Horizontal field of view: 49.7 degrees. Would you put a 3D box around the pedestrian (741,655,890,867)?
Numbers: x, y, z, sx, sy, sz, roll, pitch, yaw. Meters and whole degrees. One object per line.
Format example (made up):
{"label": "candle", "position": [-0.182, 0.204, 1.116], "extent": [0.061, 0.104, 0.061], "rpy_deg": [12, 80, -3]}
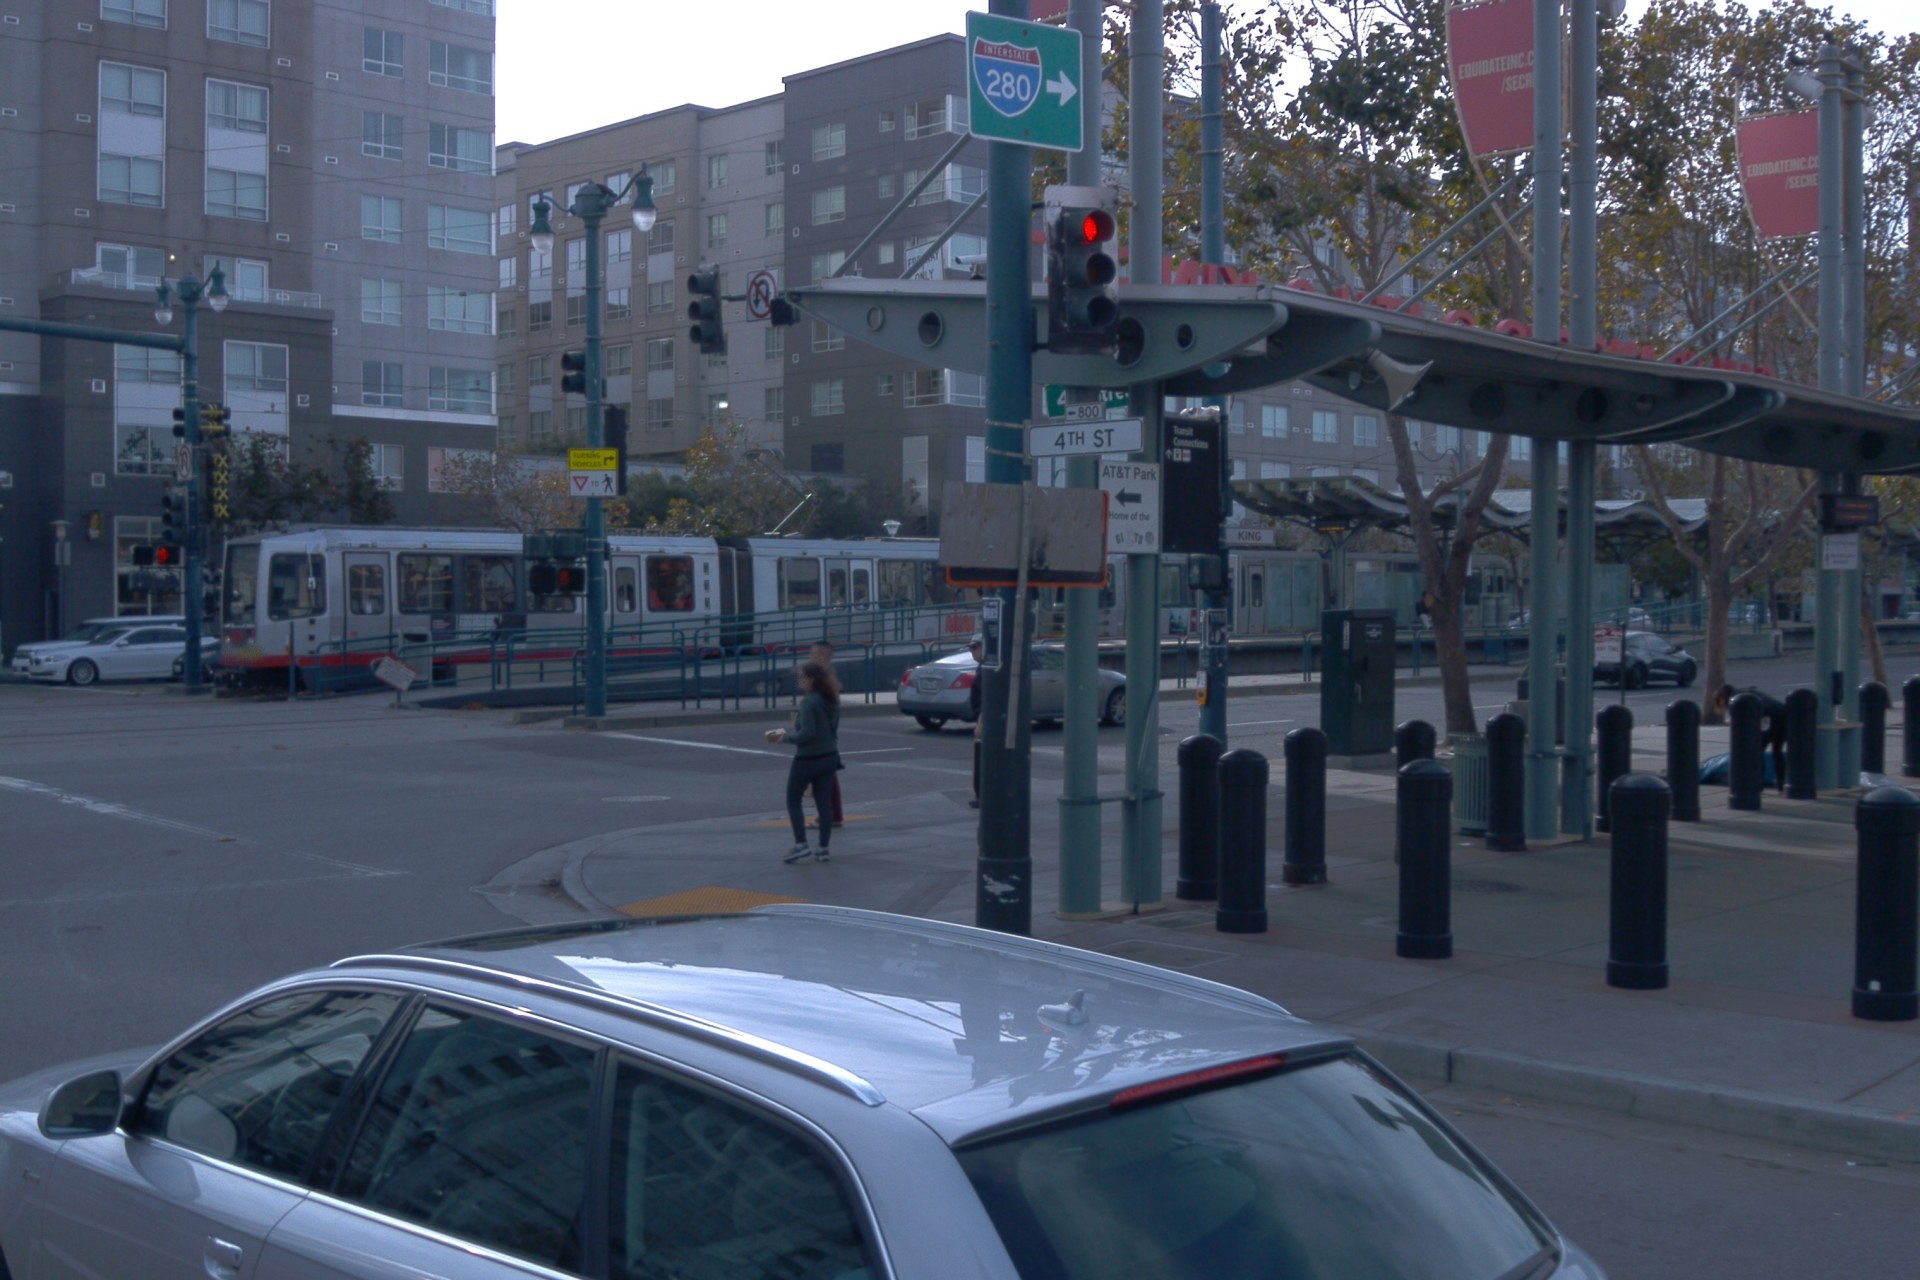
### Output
{"label": "pedestrian", "position": [-1.177, 0.950, 16.753], "extent": [0.678, 1.642, 1.016], "rpy_deg": [1, 0, -45]}

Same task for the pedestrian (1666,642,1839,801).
{"label": "pedestrian", "position": [8.306, 0.835, 21.754], "extent": [1.169, 1.605, 1.218], "rpy_deg": [1, 0, -18]}

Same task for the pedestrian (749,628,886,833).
{"label": "pedestrian", "position": [-1.300, 0.809, 19.054], "extent": [0.980, 1.819, 0.928], "rpy_deg": [1, 0, 14]}

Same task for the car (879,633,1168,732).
{"label": "car", "position": [1.107, 0.669, 33.731], "extent": [2.021, 1.488, 4.719], "rpy_deg": [1, 0, 44]}

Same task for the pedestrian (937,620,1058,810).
{"label": "pedestrian", "position": [0.381, 0.735, 20.824], "extent": [0.867, 1.858, 0.865], "rpy_deg": [1, 0, 31]}
